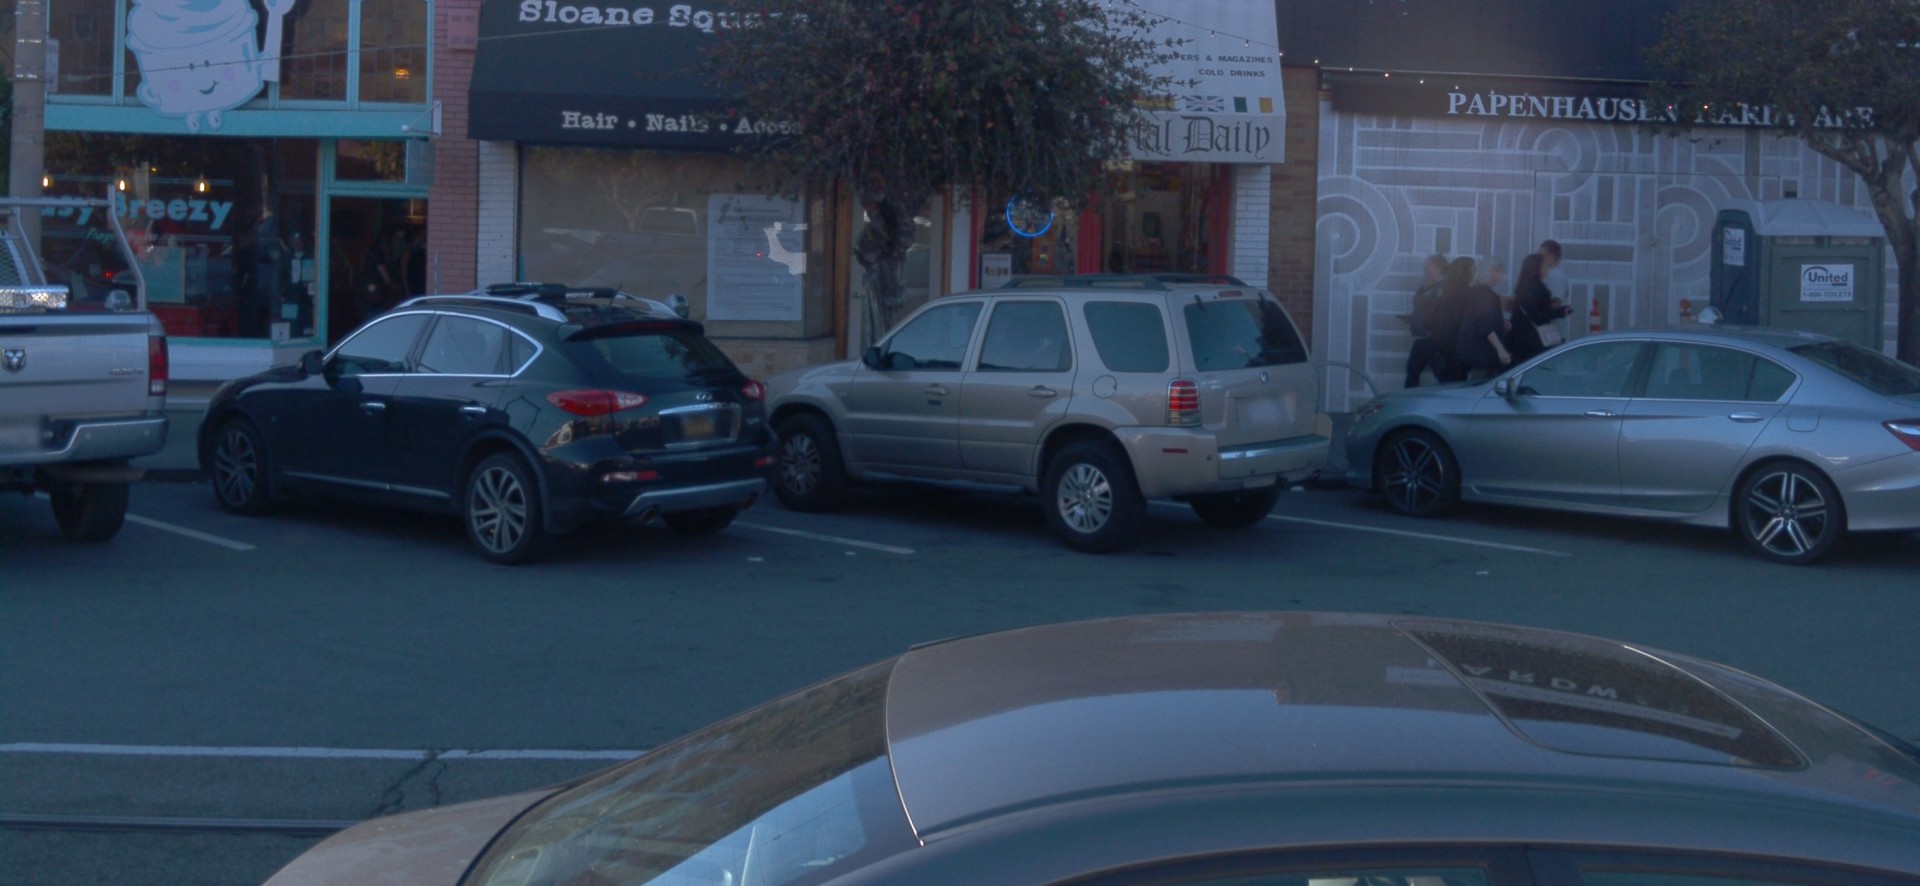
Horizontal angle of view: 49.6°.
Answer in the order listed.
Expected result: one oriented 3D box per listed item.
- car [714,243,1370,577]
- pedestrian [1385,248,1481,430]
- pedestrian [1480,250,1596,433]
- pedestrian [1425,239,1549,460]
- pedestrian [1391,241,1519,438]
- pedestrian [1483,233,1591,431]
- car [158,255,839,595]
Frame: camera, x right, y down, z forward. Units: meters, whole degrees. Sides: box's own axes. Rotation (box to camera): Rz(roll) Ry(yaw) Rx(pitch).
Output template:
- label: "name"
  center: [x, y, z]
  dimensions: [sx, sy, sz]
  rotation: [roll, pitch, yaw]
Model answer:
- label: "car"
  center: [0.472, -0.404, 14.617]
  dimensions: [4.242, 1.893, 2.079]
  rotation: [6, 6, 42]
- label: "pedestrian"
  center: [4.545, -1.014, 19.982]
  dimensions: [0.714, 1.707, 0.691]
  rotation: [1, 2, -4]
- label: "pedestrian"
  center: [5.340, -0.950, 19.206]
  dimensions: [0.833, 1.637, 0.719]
  rotation: [1, 2, -3]
- label: "pedestrian"
  center: [4.610, -0.842, 18.208]
  dimensions: [0.771, 1.866, 0.910]
  rotation: [1, 2, -6]
- label: "pedestrian"
  center: [4.512, -0.964, 18.976]
  dimensions: [0.899, 1.737, 0.801]
  rotation: [1, 2, -6]
- label: "pedestrian"
  center: [5.472, -1.079, 19.742]
  dimensions: [0.731, 1.816, 0.922]
  rotation: [1, 2, -1]
- label: "car"
  center: [-3.221, -0.301, 14.037]
  dimensions: [4.523, 1.793, 2.116]
  rotation: [5, 6, 39]
